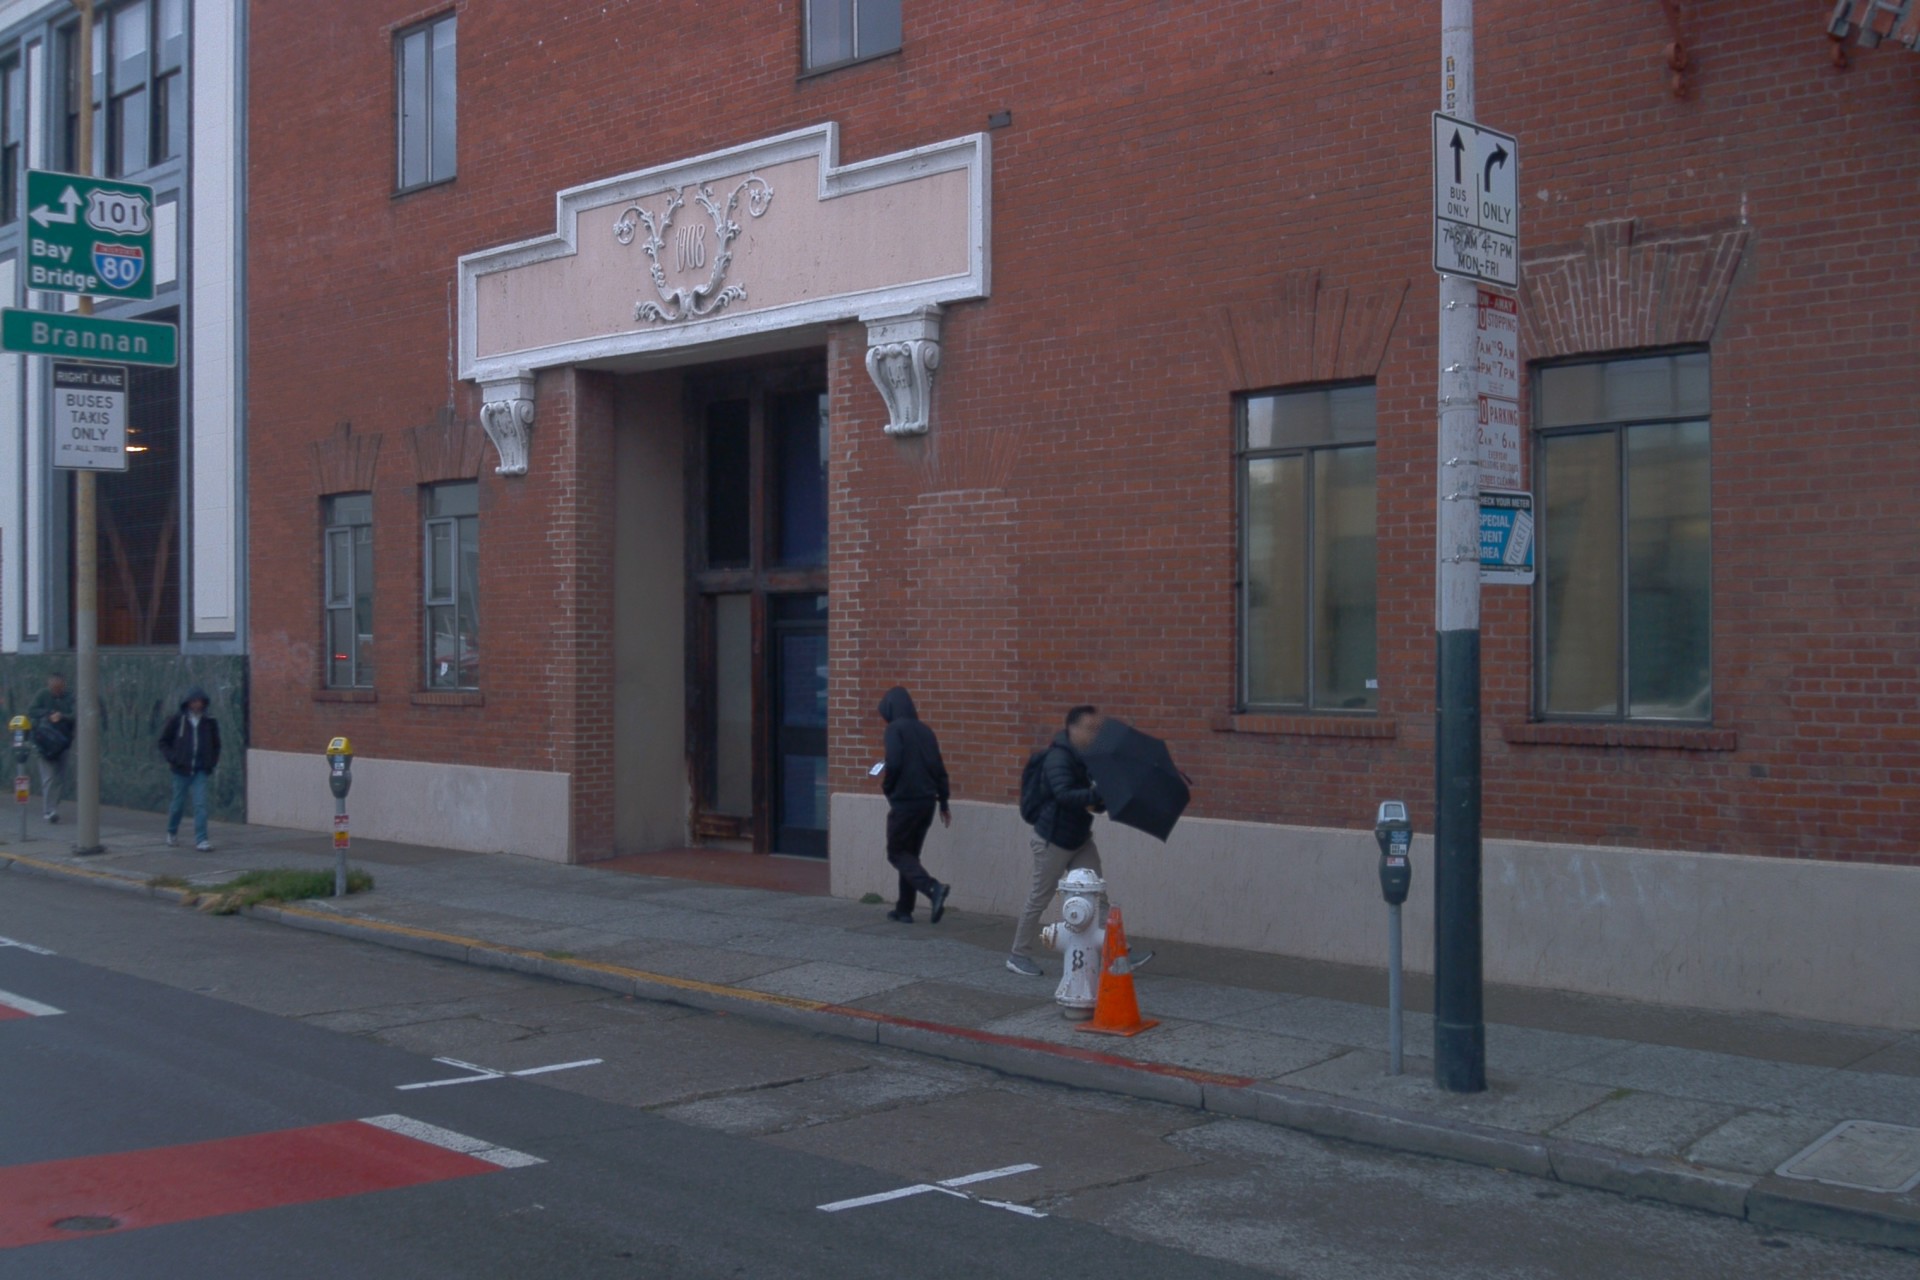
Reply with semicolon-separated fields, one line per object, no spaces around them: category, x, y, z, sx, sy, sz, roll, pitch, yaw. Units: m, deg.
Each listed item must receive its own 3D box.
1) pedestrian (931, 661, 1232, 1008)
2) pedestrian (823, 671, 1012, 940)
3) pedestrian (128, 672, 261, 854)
pedestrian;0.740;1.123;12.724;1.539;1.970;1.005;0;-1;39
pedestrian;-0.312;1.155;15.014;1.126;1.848;0.798;0;-1;43
pedestrian;-7.663;1.198;20.714;0.893;1.750;1.042;1;-1;-43
